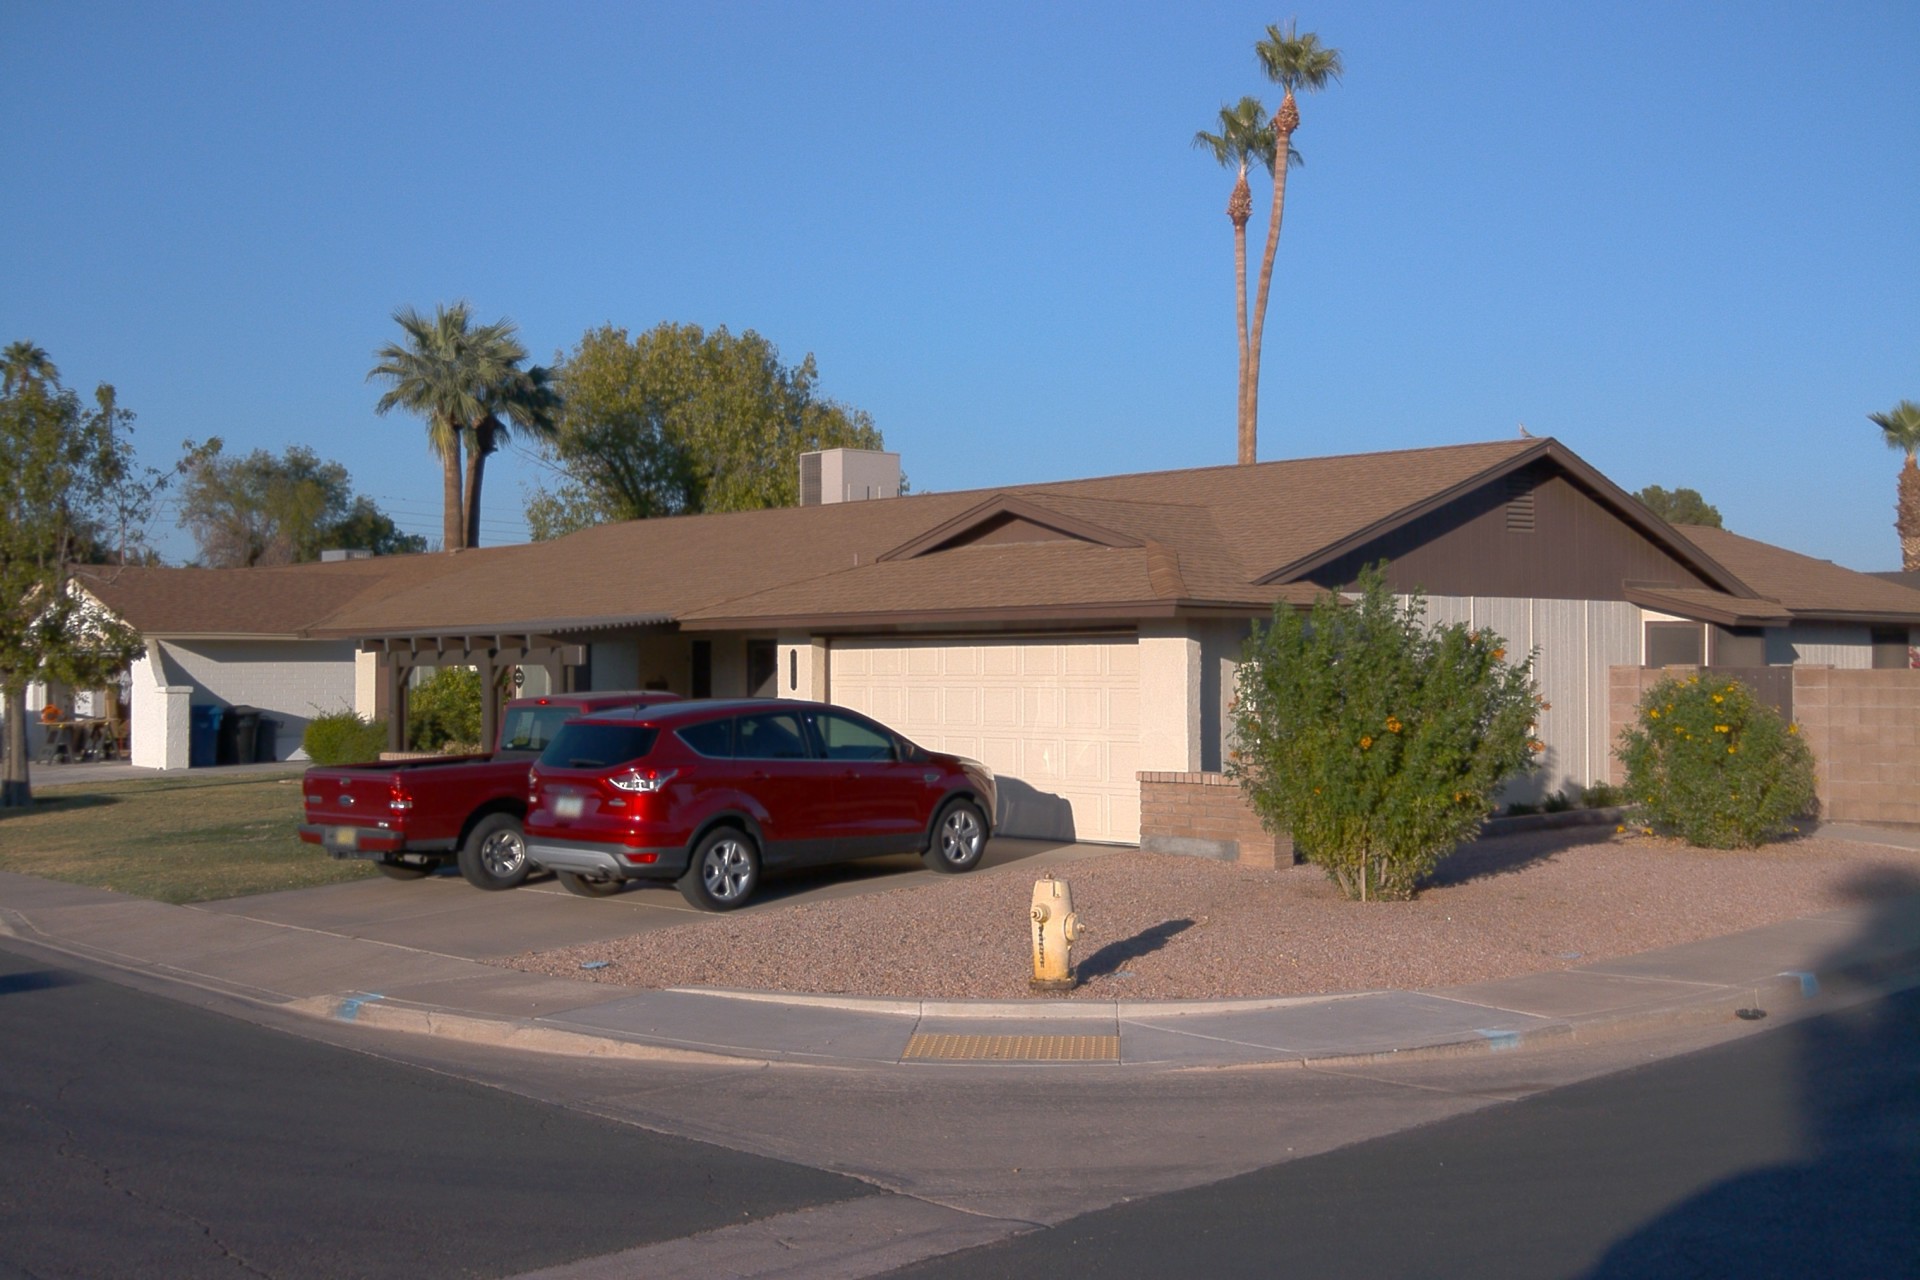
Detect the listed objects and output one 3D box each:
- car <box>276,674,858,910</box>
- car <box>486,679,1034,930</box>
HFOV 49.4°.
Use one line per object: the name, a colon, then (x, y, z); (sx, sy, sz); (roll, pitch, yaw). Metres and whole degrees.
car: (-3.583, 1.303, 19.917); (1.986, 1.900, 5.227); (0, 0, 45)
car: (-1.598, 1.283, 18.148); (1.963, 1.830, 4.602); (0, 0, 42)
